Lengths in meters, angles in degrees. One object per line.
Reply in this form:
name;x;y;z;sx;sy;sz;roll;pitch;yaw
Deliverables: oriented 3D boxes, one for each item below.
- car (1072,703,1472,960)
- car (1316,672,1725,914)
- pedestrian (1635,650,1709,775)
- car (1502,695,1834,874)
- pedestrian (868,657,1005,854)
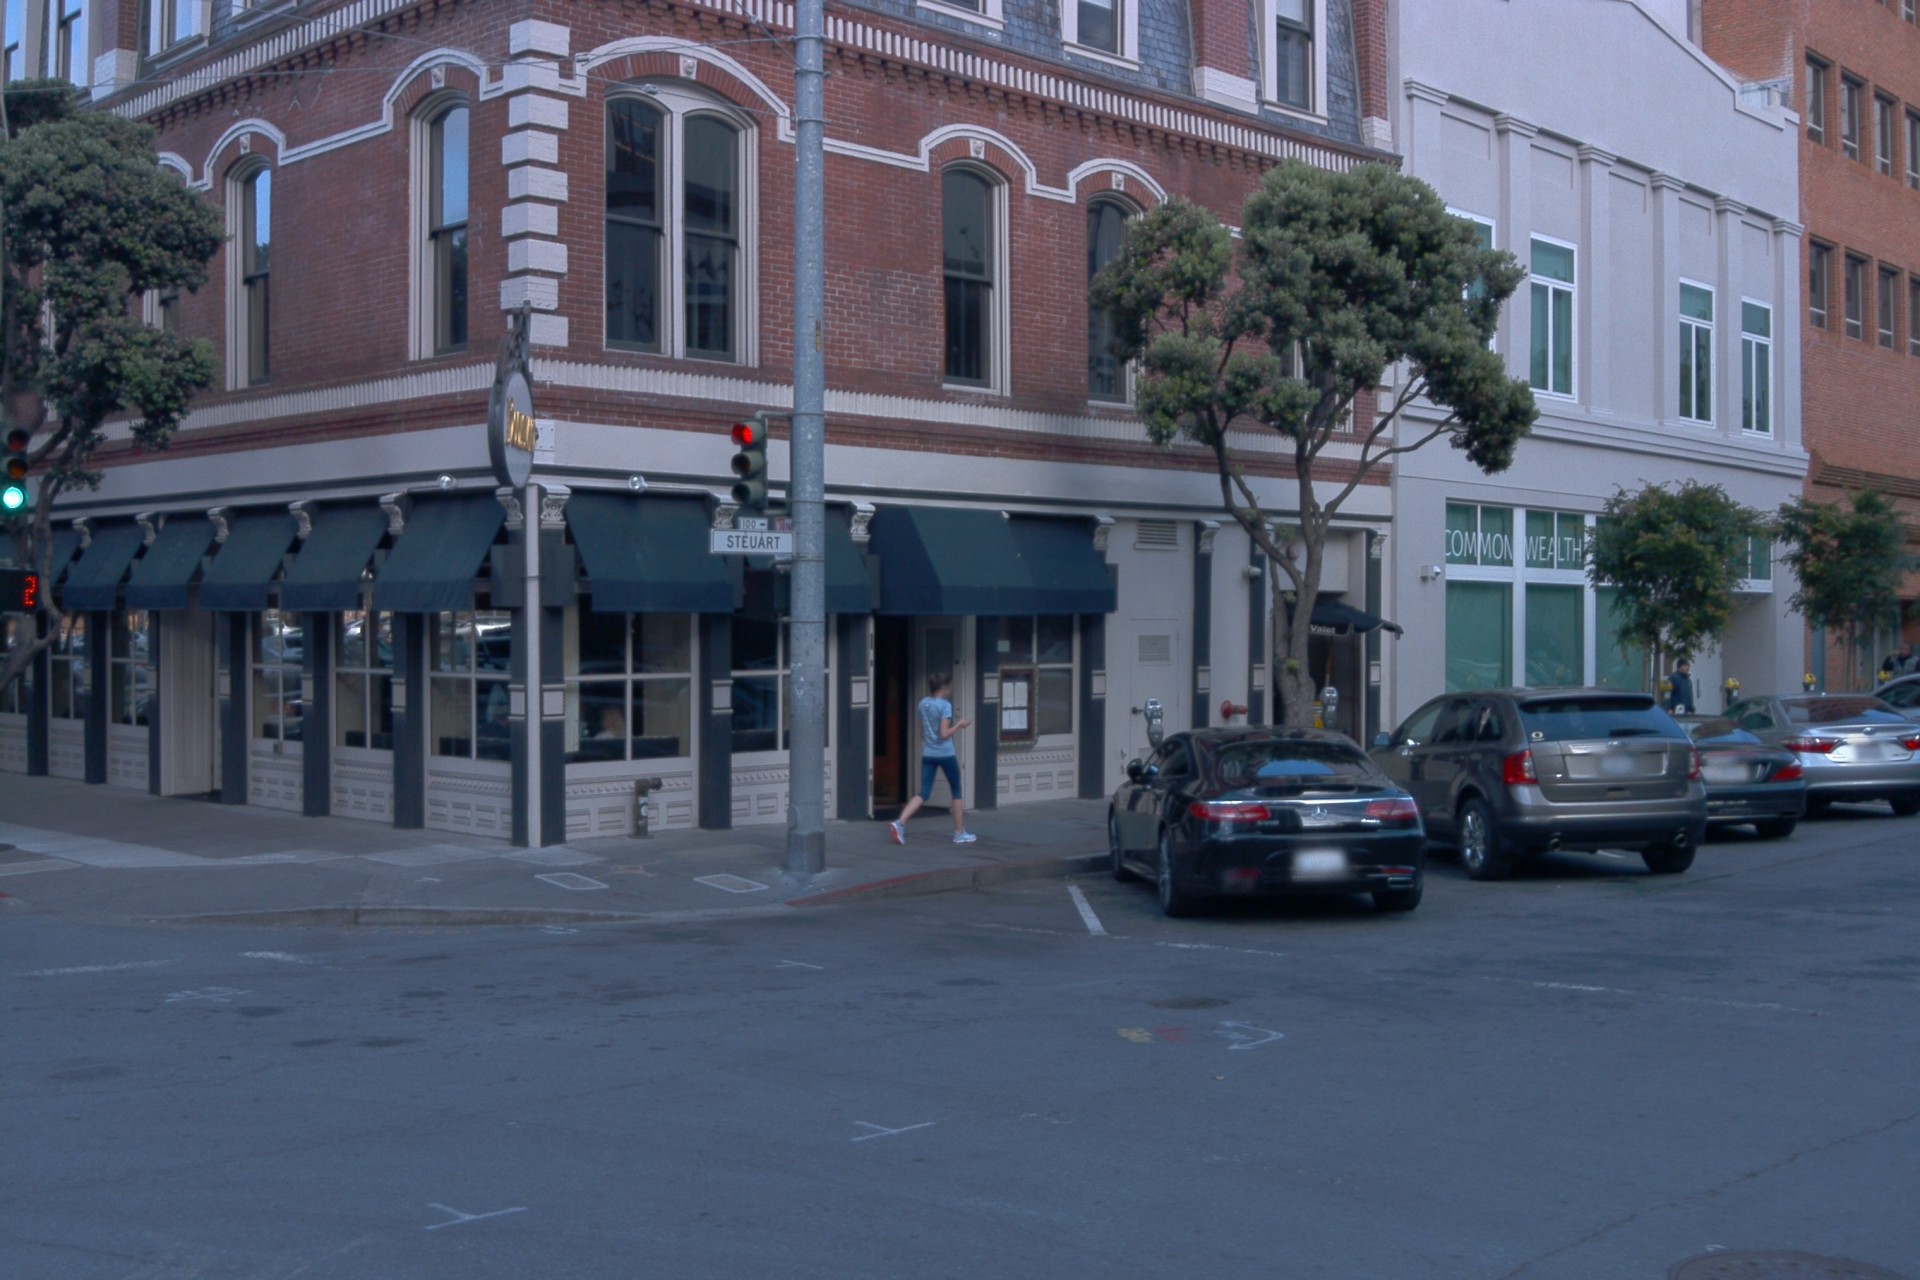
car;2.356;1.432;17.167;2.212;1.583;5.224;0;1;-4
car;5.095;1.307;19.503;2.137;1.887;4.653;0;1;-7
pedestrian;10.938;1.095;31.619;0.915;1.880;0.944;0;0;9
car;7.638;1.500;22.698;2.152;1.615;4.470;0;1;1
pedestrian;-0.225;1.097;20.081;1.128;1.830;0.745;0;0;-42
